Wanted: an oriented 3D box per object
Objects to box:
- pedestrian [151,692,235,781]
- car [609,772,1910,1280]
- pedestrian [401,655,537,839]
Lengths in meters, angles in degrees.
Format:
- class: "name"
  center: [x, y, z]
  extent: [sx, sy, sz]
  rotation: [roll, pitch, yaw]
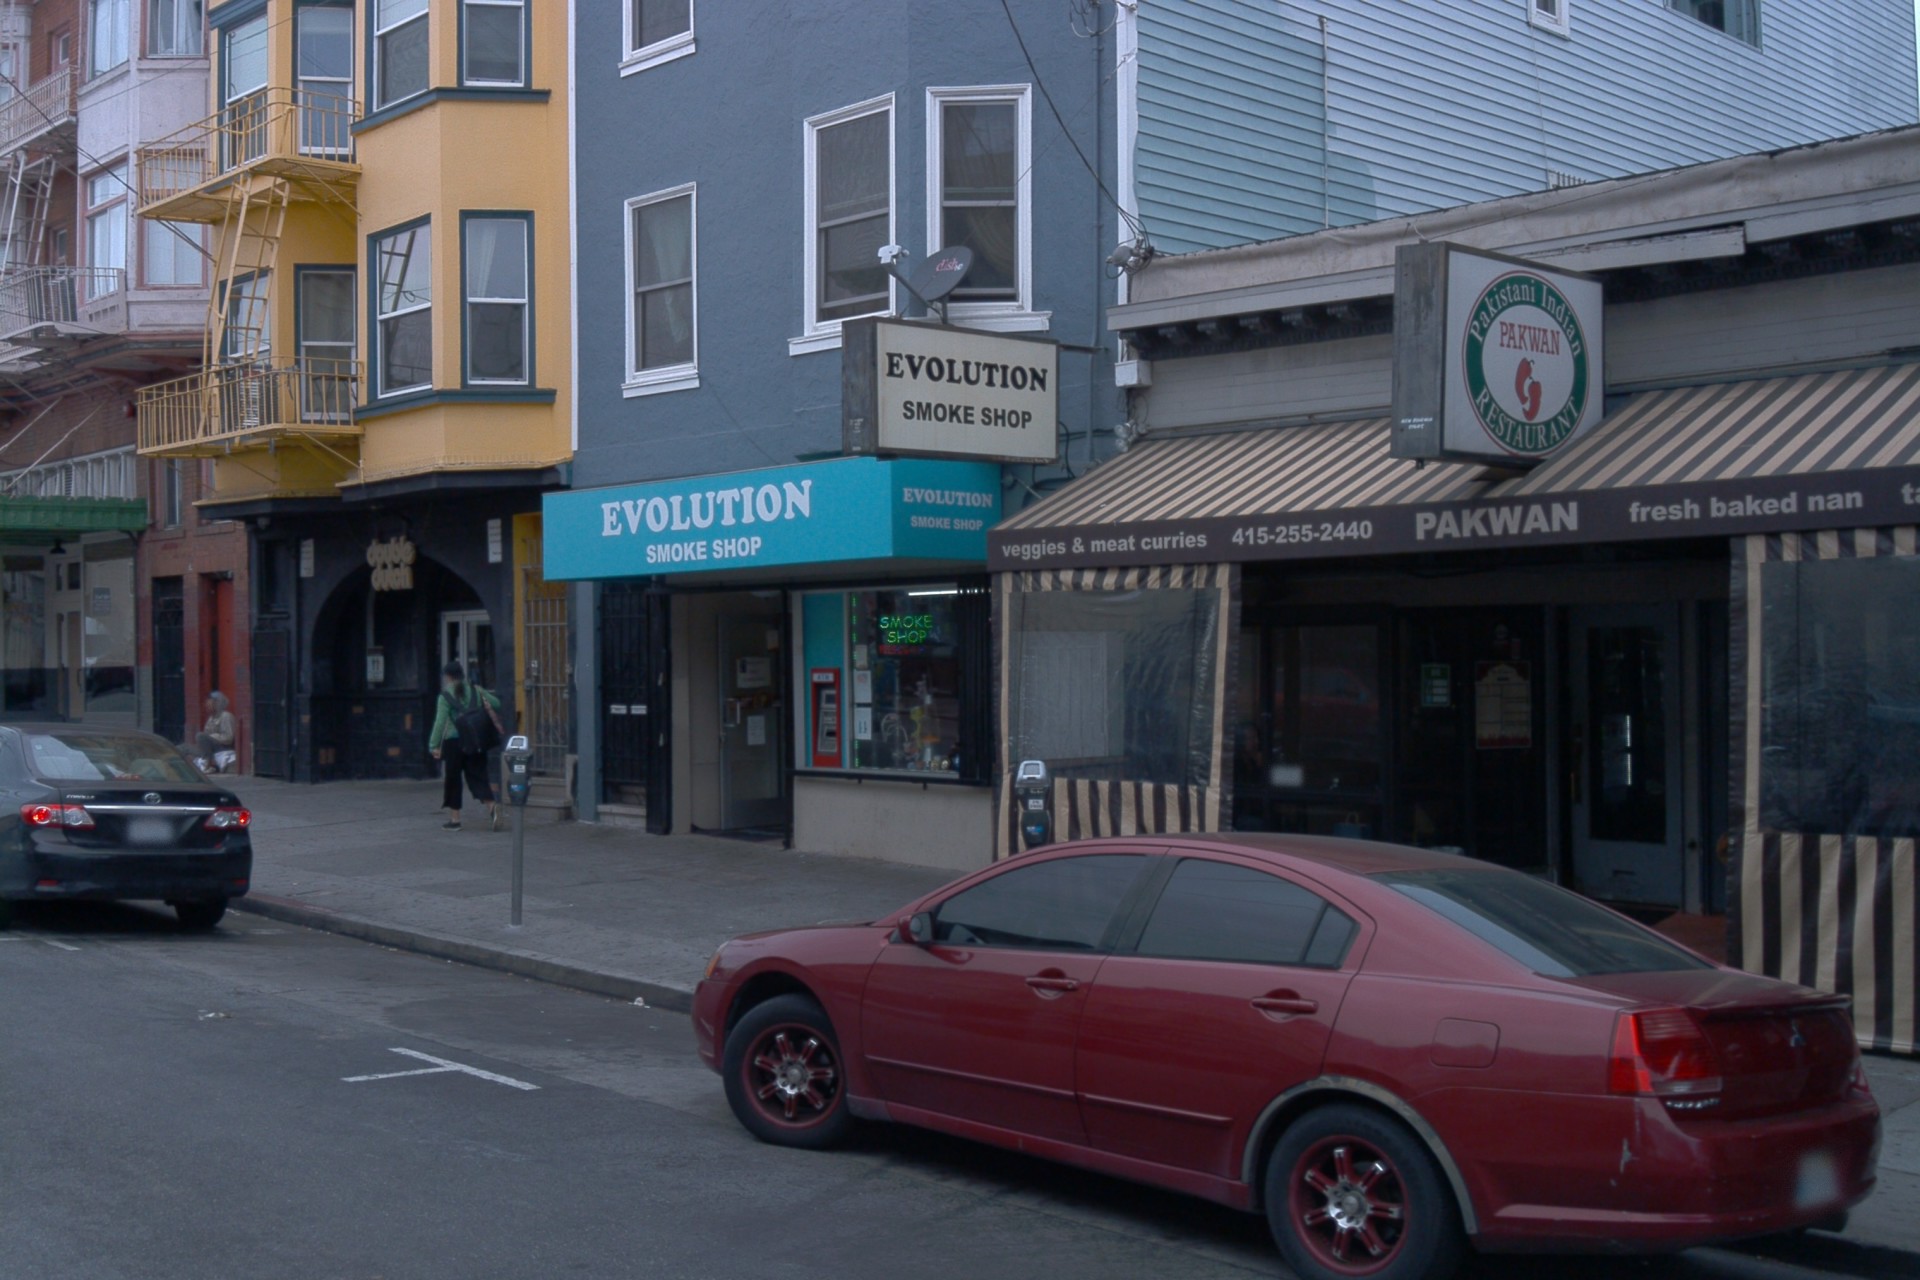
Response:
- class: "pedestrian"
  center: [-9.969, 1.238, 26.840]
  extent: [0.811, 1.100, 0.736]
  rotation: [1, 1, 44]
- class: "car"
  center: [0.888, 1.512, 8.285]
  extent: [2.081, 1.610, 4.887]
  rotation: [-1, 1, -45]
- class: "pedestrian"
  center: [-4.899, 1.032, 20.586]
  extent: [0.910, 1.750, 1.078]
  rotation: [-1, 1, -42]
